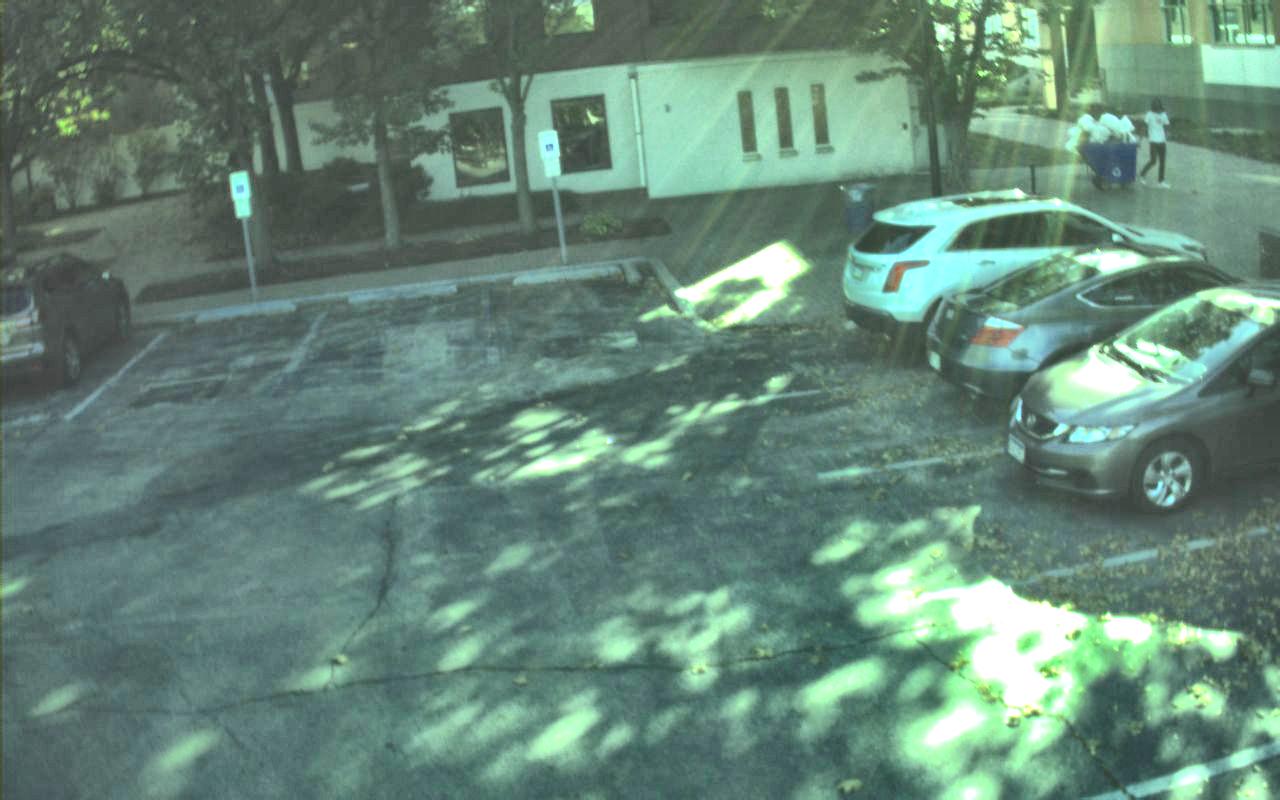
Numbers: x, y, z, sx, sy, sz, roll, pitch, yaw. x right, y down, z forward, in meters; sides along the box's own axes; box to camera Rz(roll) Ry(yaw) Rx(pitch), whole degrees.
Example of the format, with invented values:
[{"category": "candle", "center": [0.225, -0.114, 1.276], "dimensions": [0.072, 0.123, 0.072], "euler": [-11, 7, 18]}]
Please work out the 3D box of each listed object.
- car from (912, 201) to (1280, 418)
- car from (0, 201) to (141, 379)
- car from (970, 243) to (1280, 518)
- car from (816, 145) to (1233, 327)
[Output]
[{"category": "car", "center": [4.968, -0.981, 11.515], "dimensions": [4.357, 1.595, 1.937], "euler": [-3, 16, -5]}, {"category": "car", "center": [-9.132, -1.748, 17.237], "dimensions": [1.979, 1.676, 4.592], "euler": [-3, 17, -7]}, {"category": "car", "center": [4.983, -0.310, 9.236], "dimensions": [4.389, 1.564, 1.940], "euler": [-3, 16, -6]}, {"category": "car", "center": [4.504, -2.000, 14.018], "dimensions": [4.624, 1.690, 1.998], "euler": [-4, 16, -10]}]
